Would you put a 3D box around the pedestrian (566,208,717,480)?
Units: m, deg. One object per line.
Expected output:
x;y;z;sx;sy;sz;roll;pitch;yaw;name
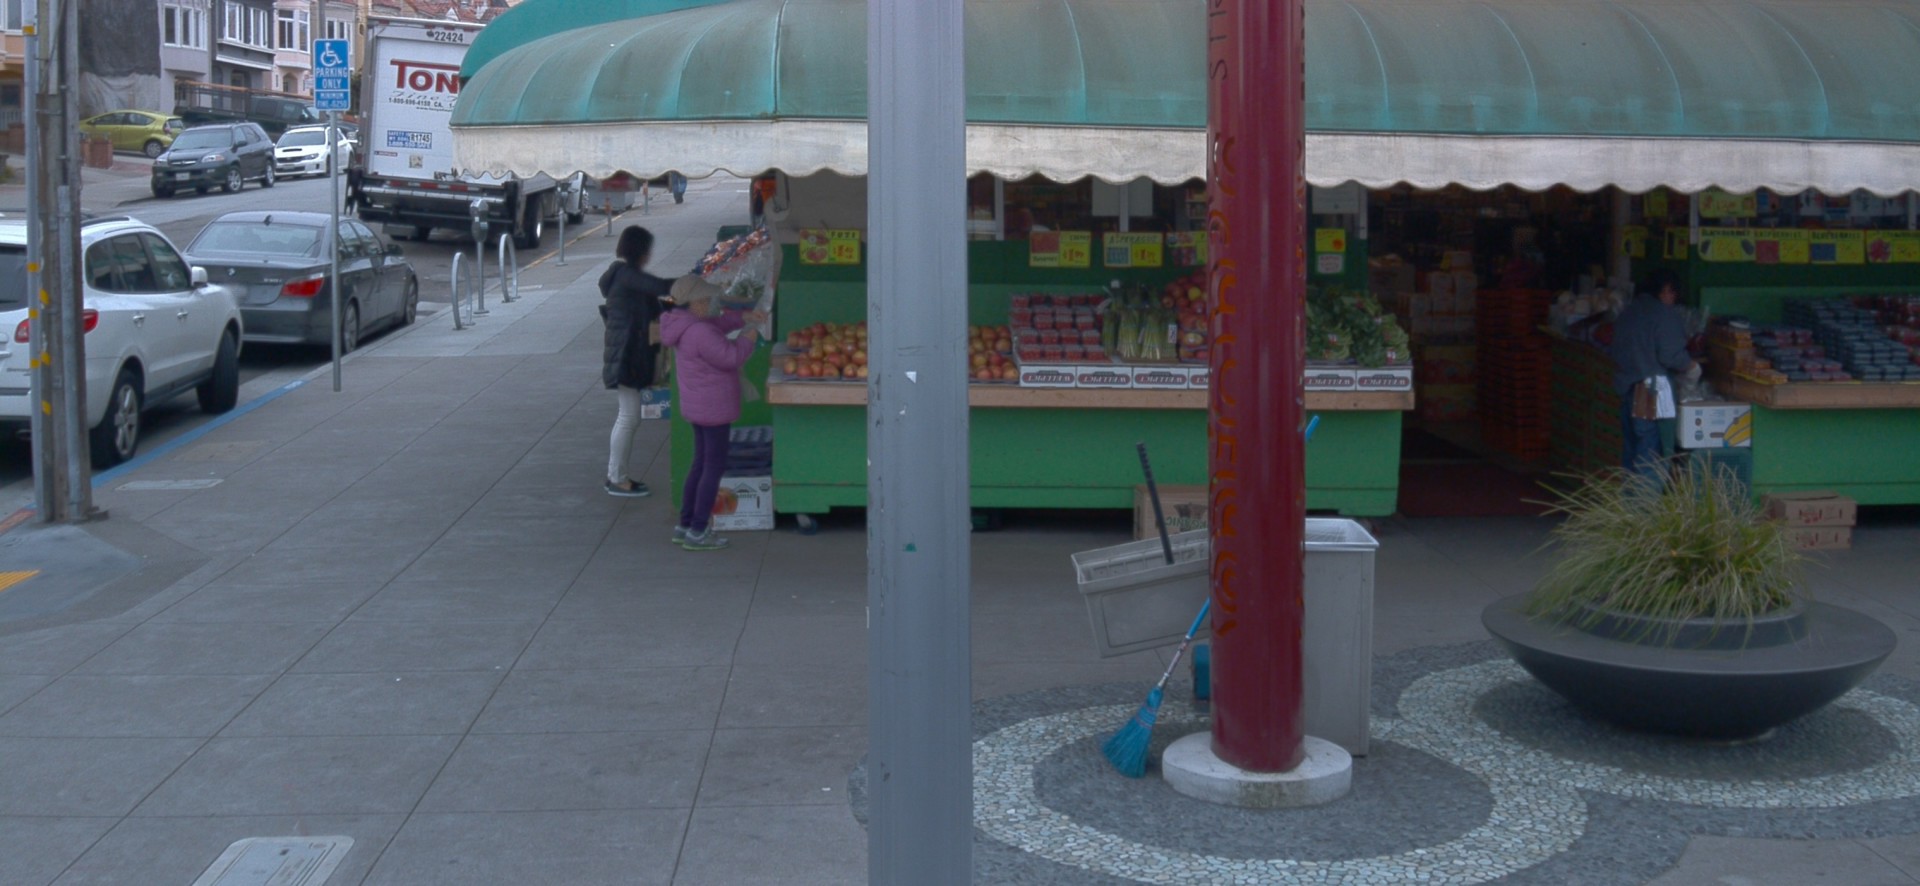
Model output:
-1.976;-0.639;12.699;0.796;1.607;0.823;-1;2;-18;pedestrian

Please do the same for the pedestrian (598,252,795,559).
-1.415;-0.241;11.098;0.705;1.564;0.798;1;2;32;pedestrian

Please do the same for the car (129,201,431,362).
-6.998;-1.768;21.709;1.969;1.513;4.609;0;6;-4;car

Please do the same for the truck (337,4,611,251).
-8.310;-5.376;36.618;2.914;3.770;10.115;0;5;-3;truck

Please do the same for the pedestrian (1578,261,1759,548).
4.005;-0.243;11.673;0.743;1.557;0.755;0;2;-2;pedestrian
